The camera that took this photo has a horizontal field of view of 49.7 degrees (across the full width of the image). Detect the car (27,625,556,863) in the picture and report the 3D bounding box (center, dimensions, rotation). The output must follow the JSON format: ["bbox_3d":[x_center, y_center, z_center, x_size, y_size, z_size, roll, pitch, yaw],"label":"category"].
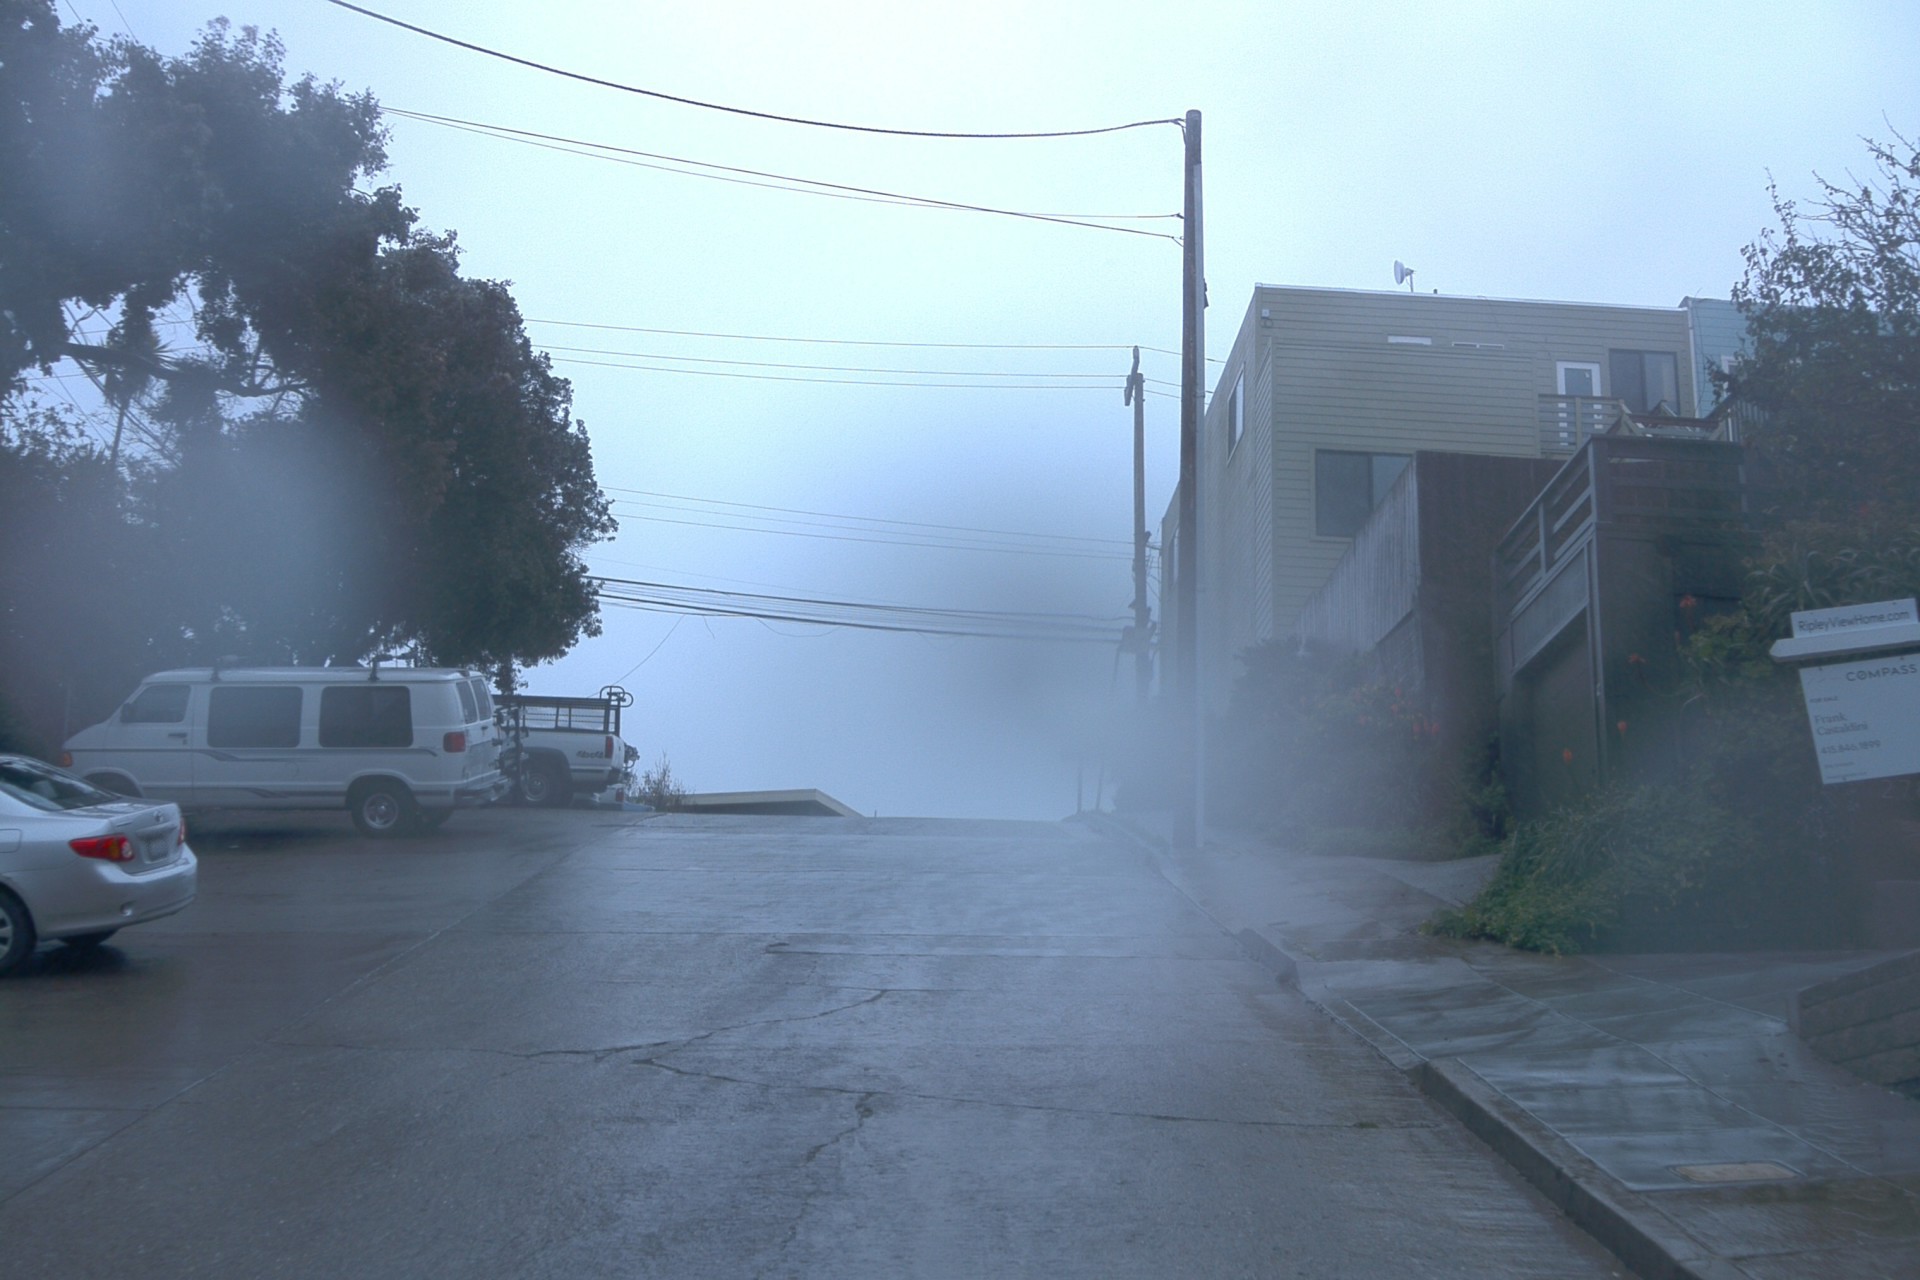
[{"bbox_3d":[-7.846,1.173,24.725,5.494,2.680,2.468,0,0,3],"label":"car"}]

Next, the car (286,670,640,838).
[{"bbox_3d":[-7.969,1.800,33.701,5.282,2.590,2.370,0,0,-4],"label":"car"}]
